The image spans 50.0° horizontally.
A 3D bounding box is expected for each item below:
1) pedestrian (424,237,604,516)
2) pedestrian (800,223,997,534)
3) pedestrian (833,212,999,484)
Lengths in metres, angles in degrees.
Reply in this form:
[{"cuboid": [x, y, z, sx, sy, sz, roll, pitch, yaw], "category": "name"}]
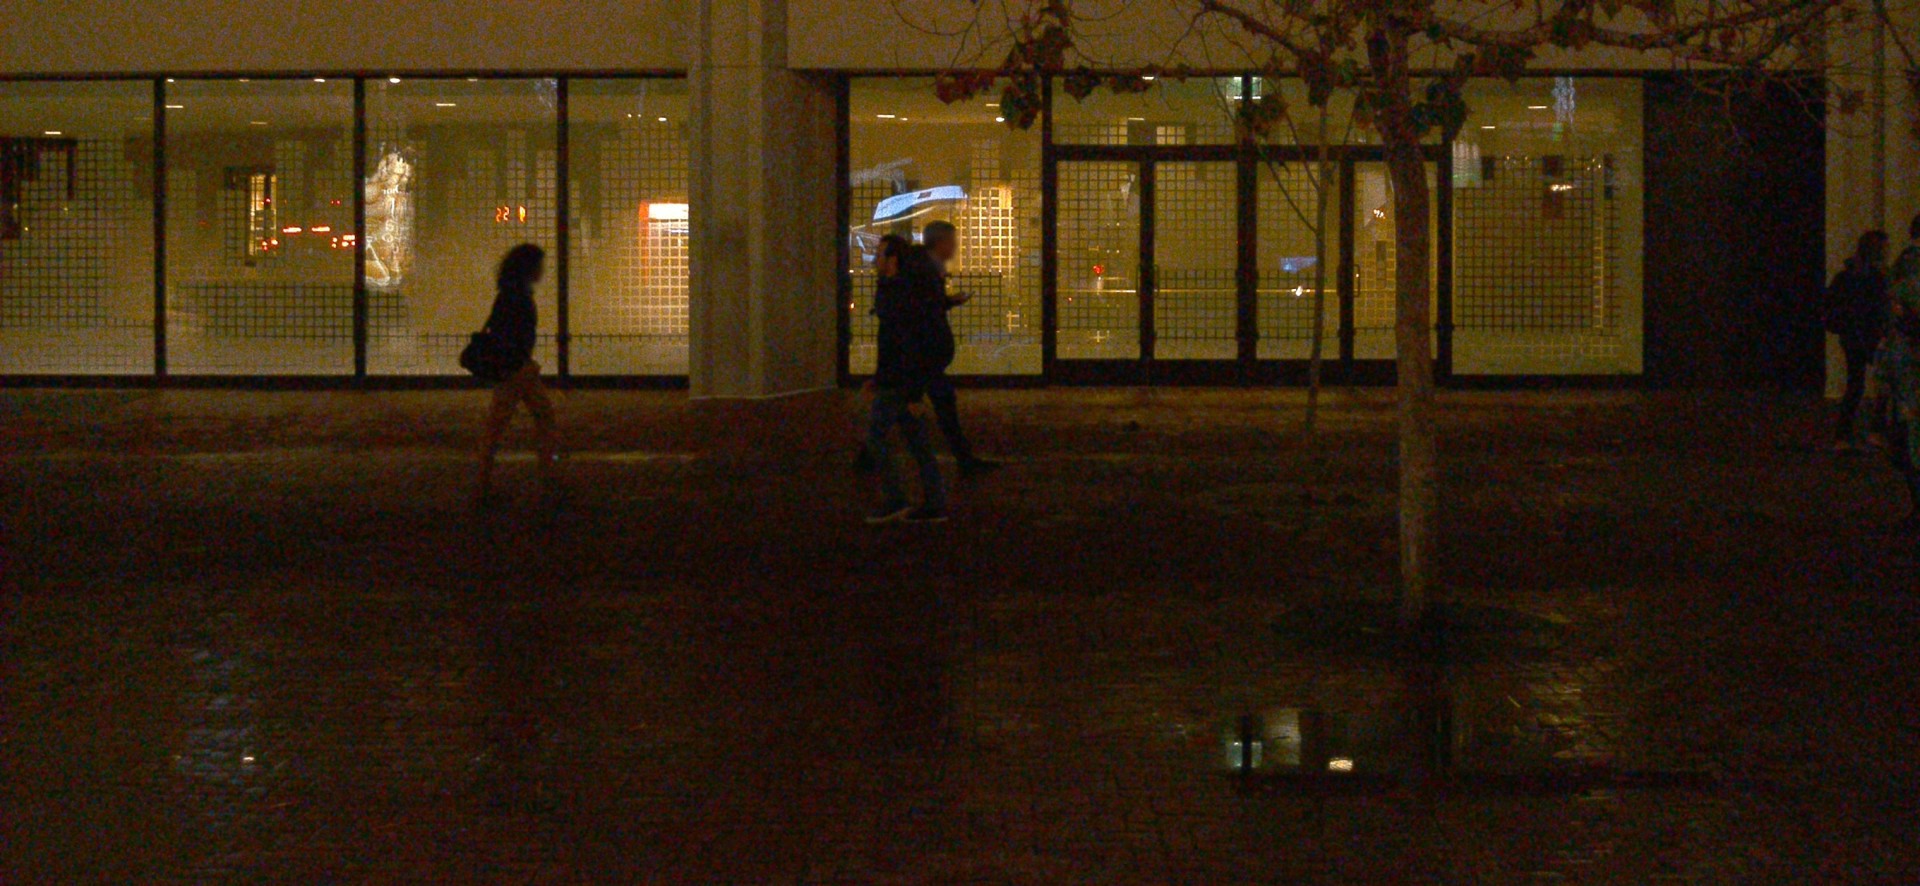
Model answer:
[{"cuboid": [-2.918, -0.459, 13.546, 1.048, 1.781, 0.731, 0, 0, -3], "category": "pedestrian"}, {"cuboid": [-0.363, -0.422, 12.682, 1.141, 1.851, 0.760, 0, 0, 4], "category": "pedestrian"}, {"cuboid": [-0.295, -0.679, 14.274, 1.111, 1.831, 0.844, 0, 1, 0], "category": "pedestrian"}]
